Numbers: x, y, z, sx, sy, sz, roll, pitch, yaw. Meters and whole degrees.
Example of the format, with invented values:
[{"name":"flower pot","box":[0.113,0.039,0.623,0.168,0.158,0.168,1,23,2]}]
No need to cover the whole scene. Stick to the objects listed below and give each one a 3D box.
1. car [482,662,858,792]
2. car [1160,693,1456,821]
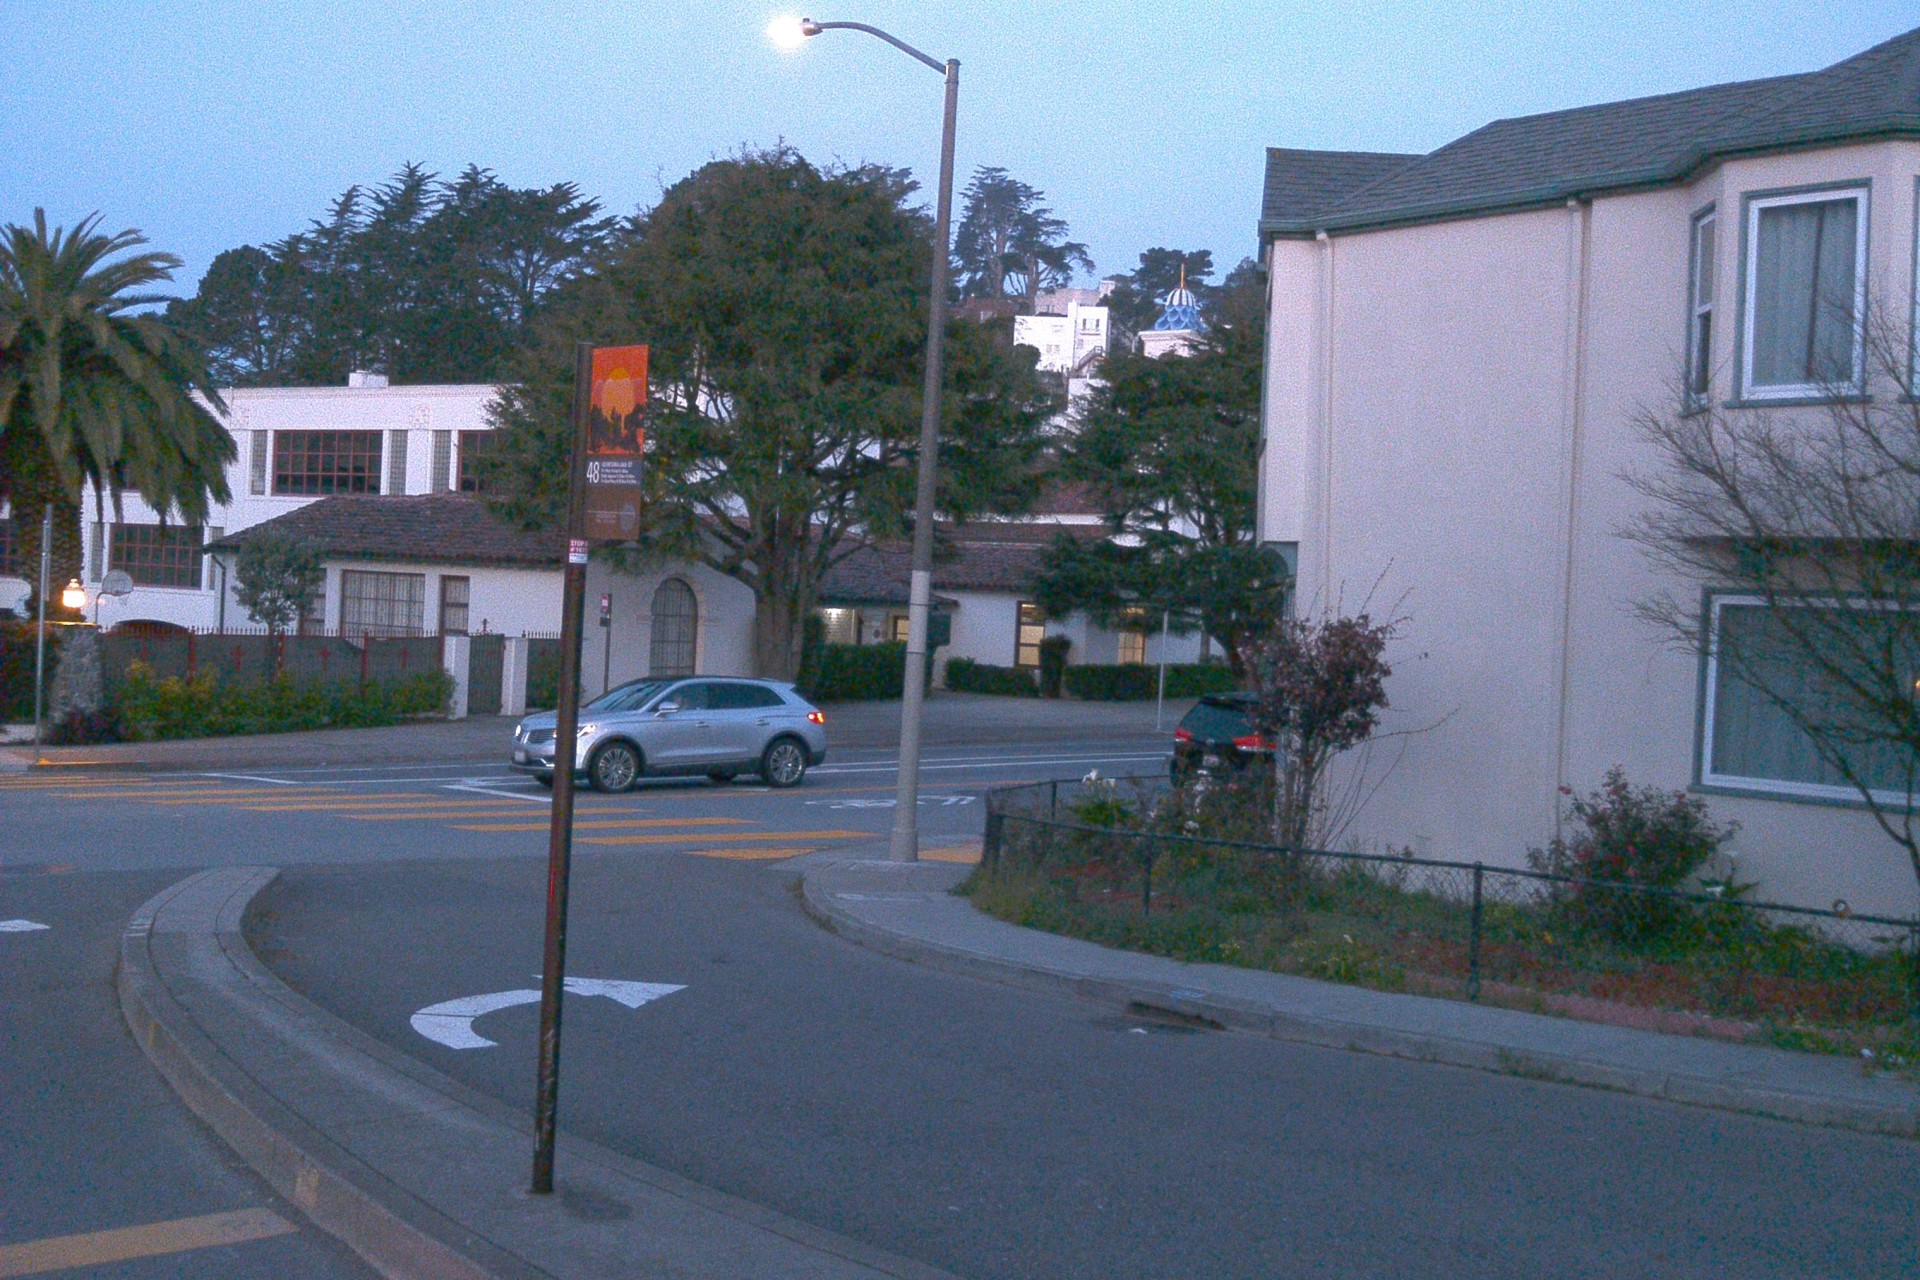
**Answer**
[{"name":"car","box":[-4.179,1.204,30.665,5.027,1.730,2.150,1,0,-39]},{"name":"car","box":[5.027,1.628,30.201,3.819,1.660,2.058,1,0,-34]}]
